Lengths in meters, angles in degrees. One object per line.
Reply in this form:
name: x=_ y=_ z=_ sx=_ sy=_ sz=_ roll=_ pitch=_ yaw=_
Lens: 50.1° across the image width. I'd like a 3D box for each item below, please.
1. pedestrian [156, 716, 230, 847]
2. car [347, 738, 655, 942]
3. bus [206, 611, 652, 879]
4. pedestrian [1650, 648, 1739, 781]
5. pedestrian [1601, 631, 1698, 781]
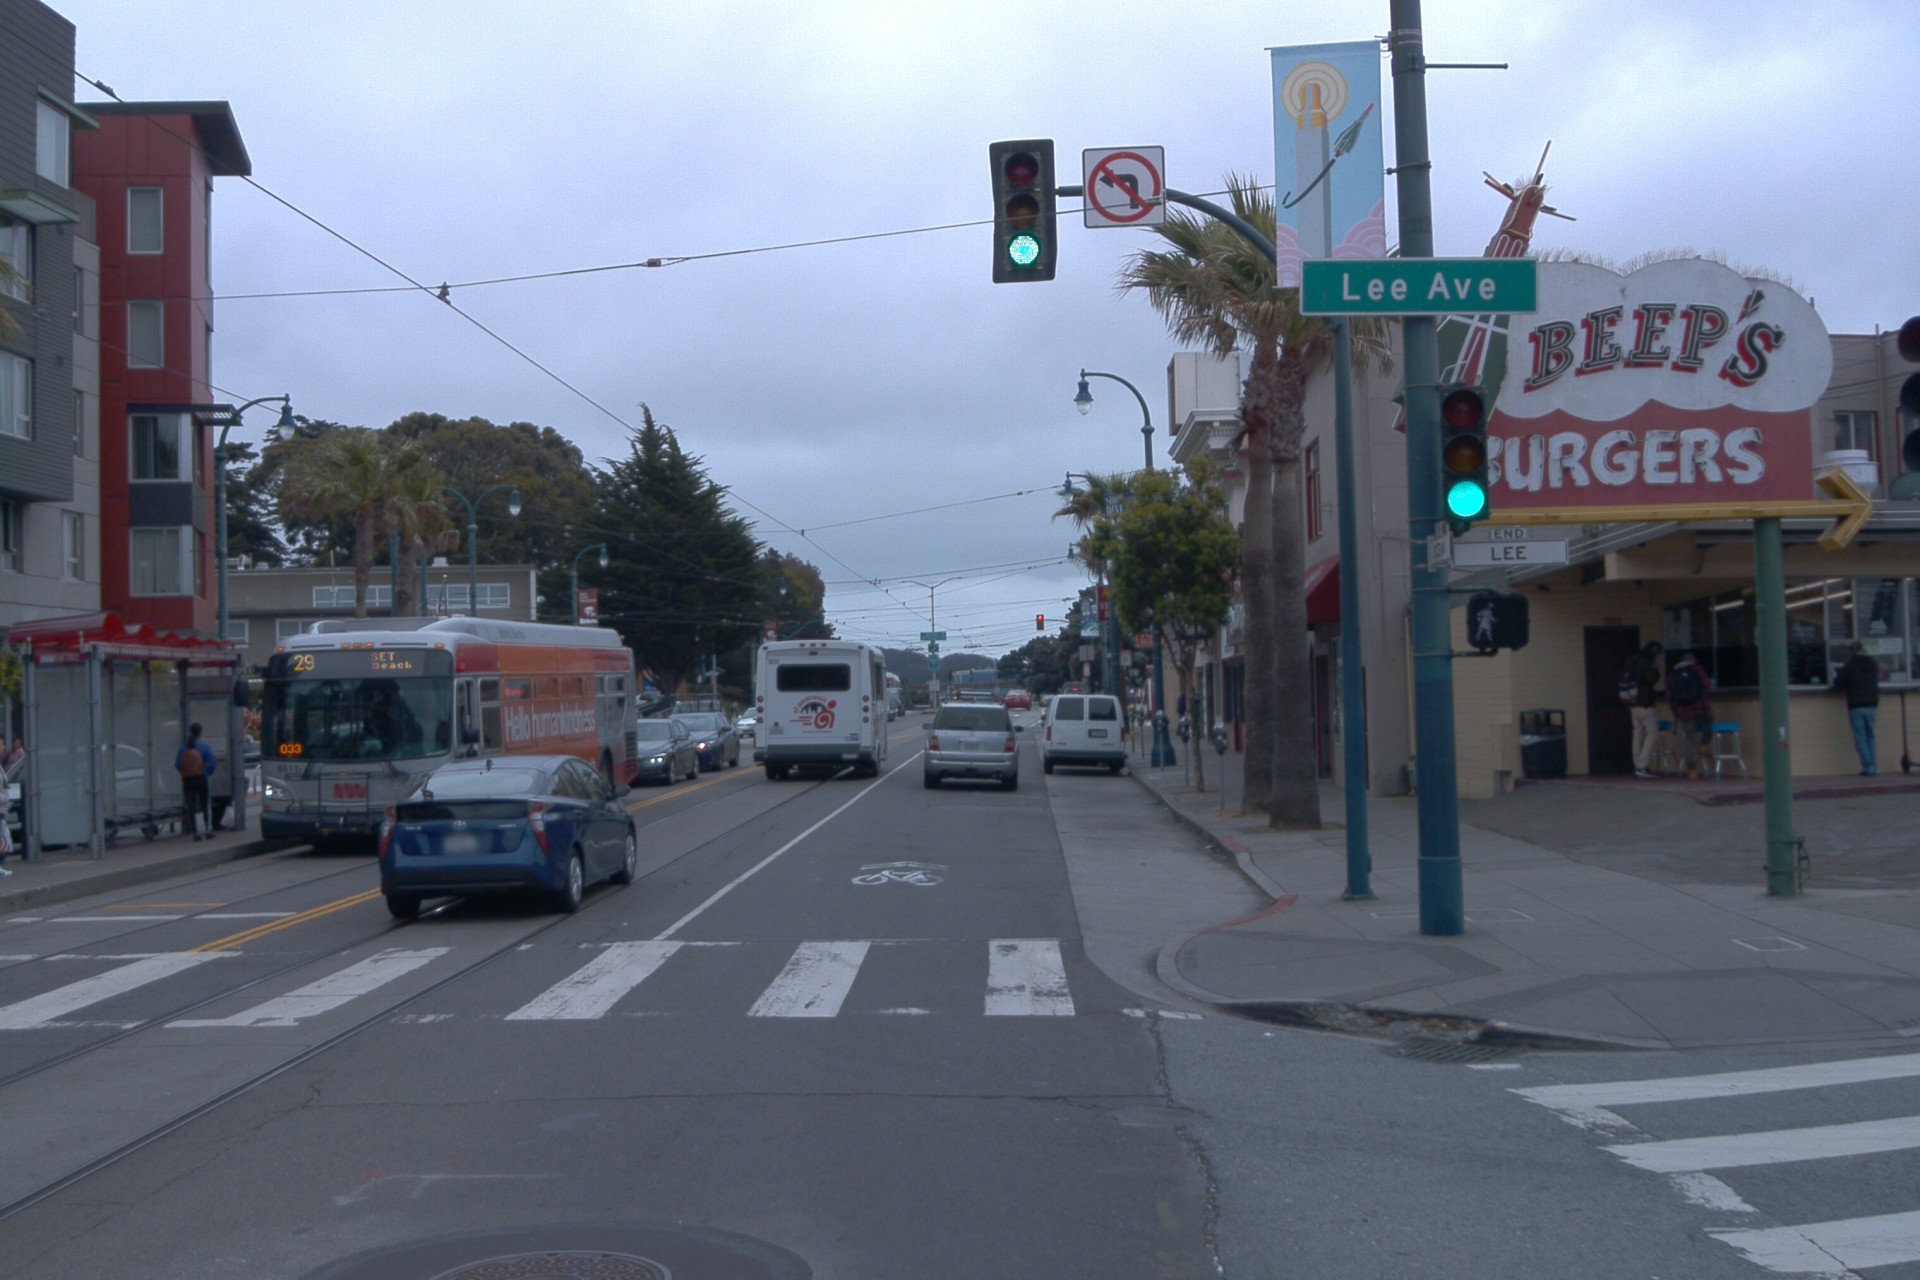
pedestrian: x=-10.361 y=1.900 z=27.780 sx=0.692 sy=1.720 sz=0.677 roll=0 pitch=1 yaw=6
car: x=-4.423 y=1.891 z=20.504 sx=1.972 sy=1.540 sz=4.259 roll=0 pitch=1 yaw=2
bus: x=-7.679 y=1.242 z=32.432 sx=3.228 sy=3.350 sz=12.909 roll=0 pitch=1 yaw=2
pedestrian: x=9.710 y=0.969 z=27.208 sx=0.819 sy=1.710 sz=0.858 roll=0 pitch=1 yaw=-4
pedestrian: x=9.297 y=0.866 z=27.733 sx=0.829 sy=1.970 sz=0.942 roll=-1 pitch=1 yaw=-20
